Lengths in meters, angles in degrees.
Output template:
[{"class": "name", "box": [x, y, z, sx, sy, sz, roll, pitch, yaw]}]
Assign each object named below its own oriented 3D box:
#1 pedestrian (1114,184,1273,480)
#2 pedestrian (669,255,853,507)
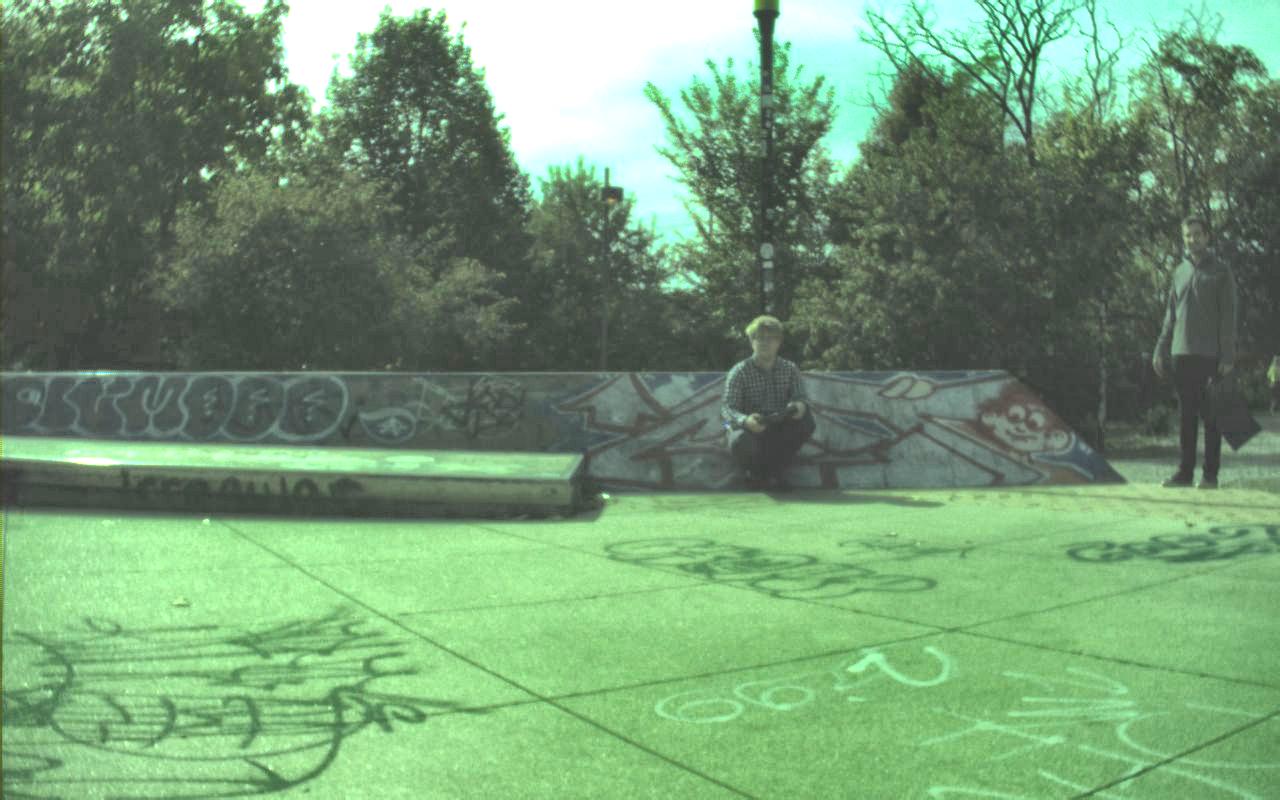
[{"class": "pedestrian", "box": [3.563, -0.407, 7.415, 0.792, 1.776, 0.804, 0, 0, -35]}, {"class": "pedestrian", "box": [0.781, -0.127, 8.002, 0.848, 1.491, 0.880, 1, 0, 33]}]
